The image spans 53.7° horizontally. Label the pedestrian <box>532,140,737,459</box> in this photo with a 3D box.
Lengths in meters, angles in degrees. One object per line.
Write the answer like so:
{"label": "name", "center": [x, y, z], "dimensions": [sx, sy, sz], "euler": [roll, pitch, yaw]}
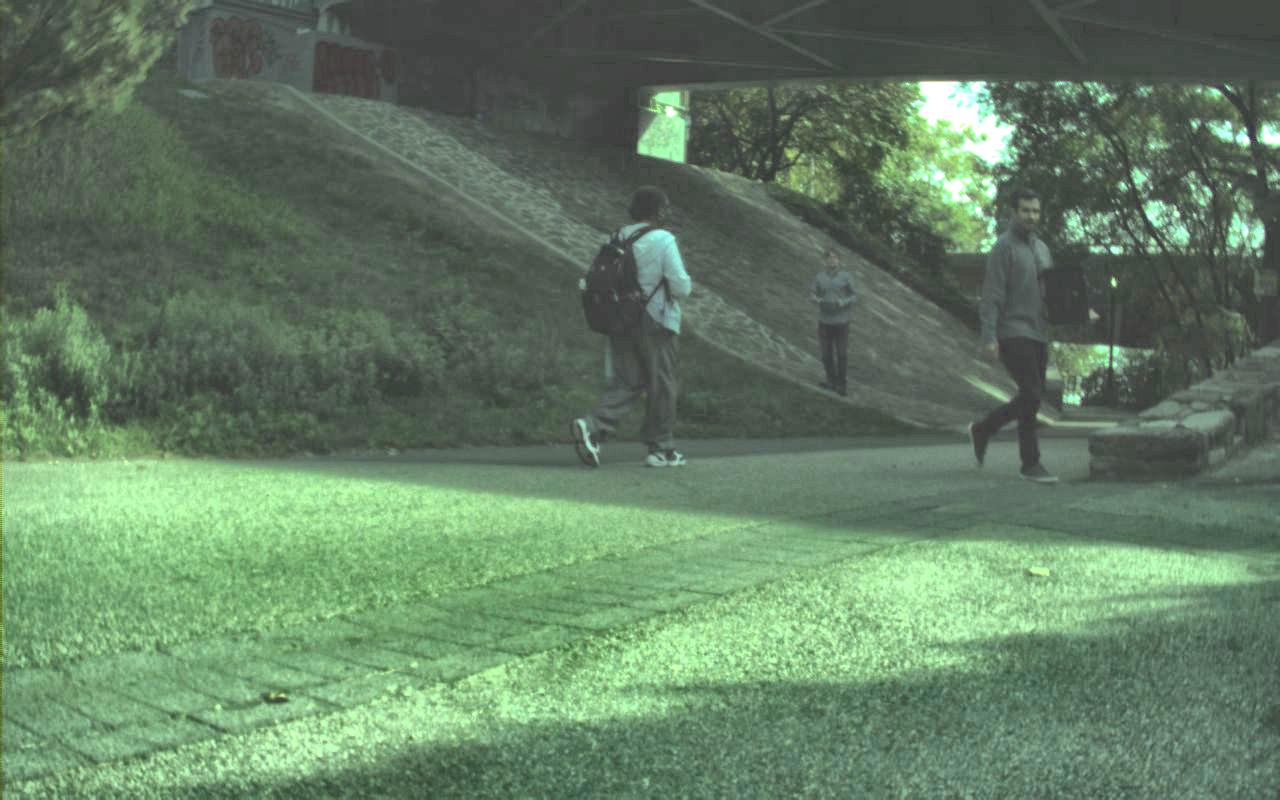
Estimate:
{"label": "pedestrian", "center": [-0.021, -0.558, 7.323], "dimensions": [0.820, 1.713, 0.883], "euler": [1, 0, 35]}

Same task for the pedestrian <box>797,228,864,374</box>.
{"label": "pedestrian", "center": [2.445, -1.246, 16.010], "dimensions": [0.746, 1.815, 0.744], "euler": [1, 0, 18]}

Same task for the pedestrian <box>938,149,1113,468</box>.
{"label": "pedestrian", "center": [2.256, -0.510, 7.144], "dimensions": [0.801, 1.758, 0.851], "euler": [0, 0, -5]}
